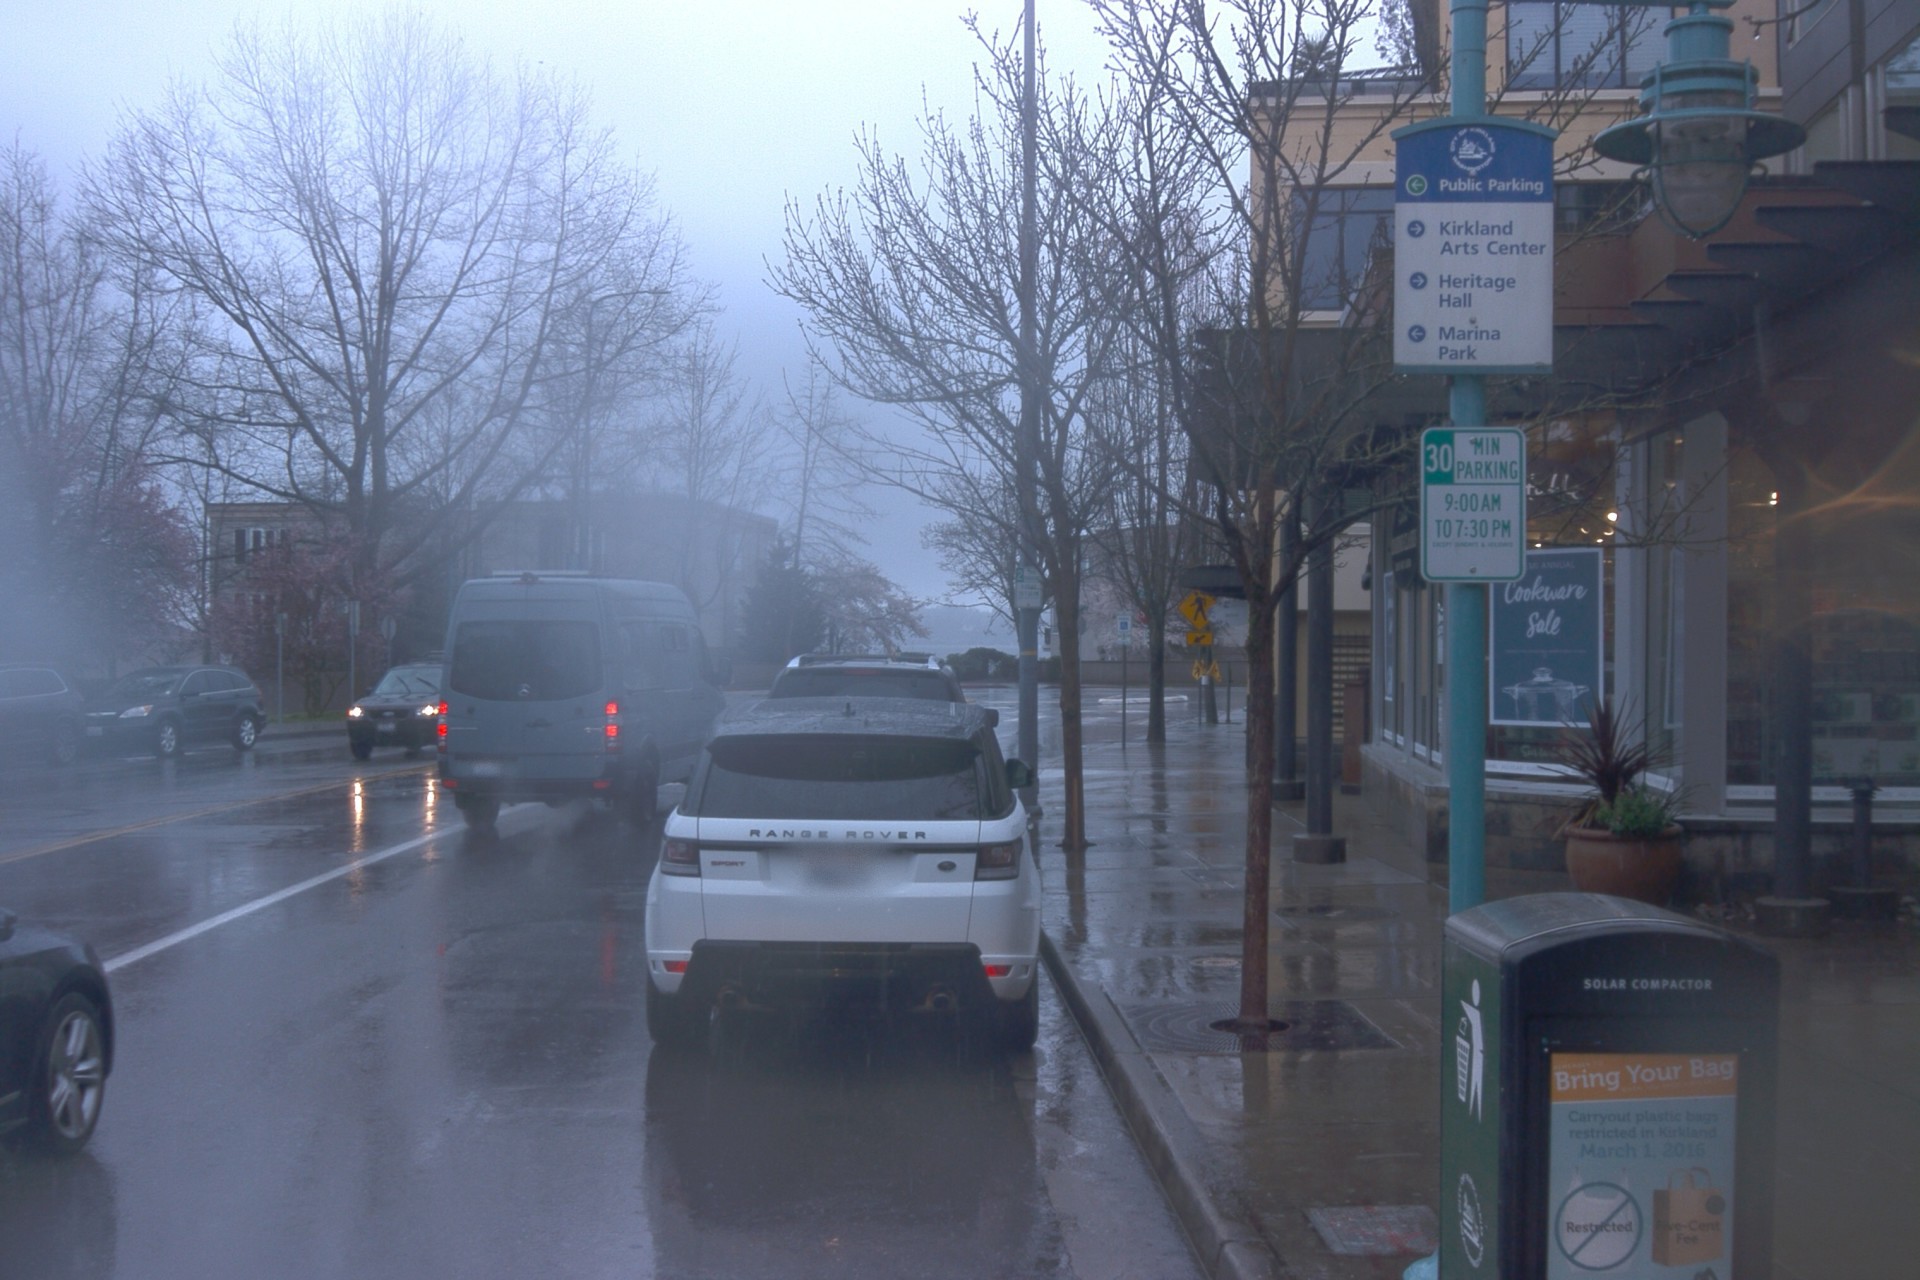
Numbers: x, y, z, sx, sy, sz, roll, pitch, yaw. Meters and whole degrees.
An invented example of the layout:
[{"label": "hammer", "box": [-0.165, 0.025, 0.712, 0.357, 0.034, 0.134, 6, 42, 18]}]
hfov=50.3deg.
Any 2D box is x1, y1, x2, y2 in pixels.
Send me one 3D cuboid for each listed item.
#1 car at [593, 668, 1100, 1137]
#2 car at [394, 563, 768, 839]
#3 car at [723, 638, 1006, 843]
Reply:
[{"label": "car", "box": [-0.627, 1.236, 11.848, 2.265, 2.000, 5.125, 1, 0, -3]}, {"label": "car", "box": [-4.087, 0.589, 23.488, 2.501, 2.700, 6.190, 1, 0, 6]}, {"label": "car", "box": [-0.869, 0.796, 18.689, 2.210, 1.560, 5.097, 1, 0, -3]}]
